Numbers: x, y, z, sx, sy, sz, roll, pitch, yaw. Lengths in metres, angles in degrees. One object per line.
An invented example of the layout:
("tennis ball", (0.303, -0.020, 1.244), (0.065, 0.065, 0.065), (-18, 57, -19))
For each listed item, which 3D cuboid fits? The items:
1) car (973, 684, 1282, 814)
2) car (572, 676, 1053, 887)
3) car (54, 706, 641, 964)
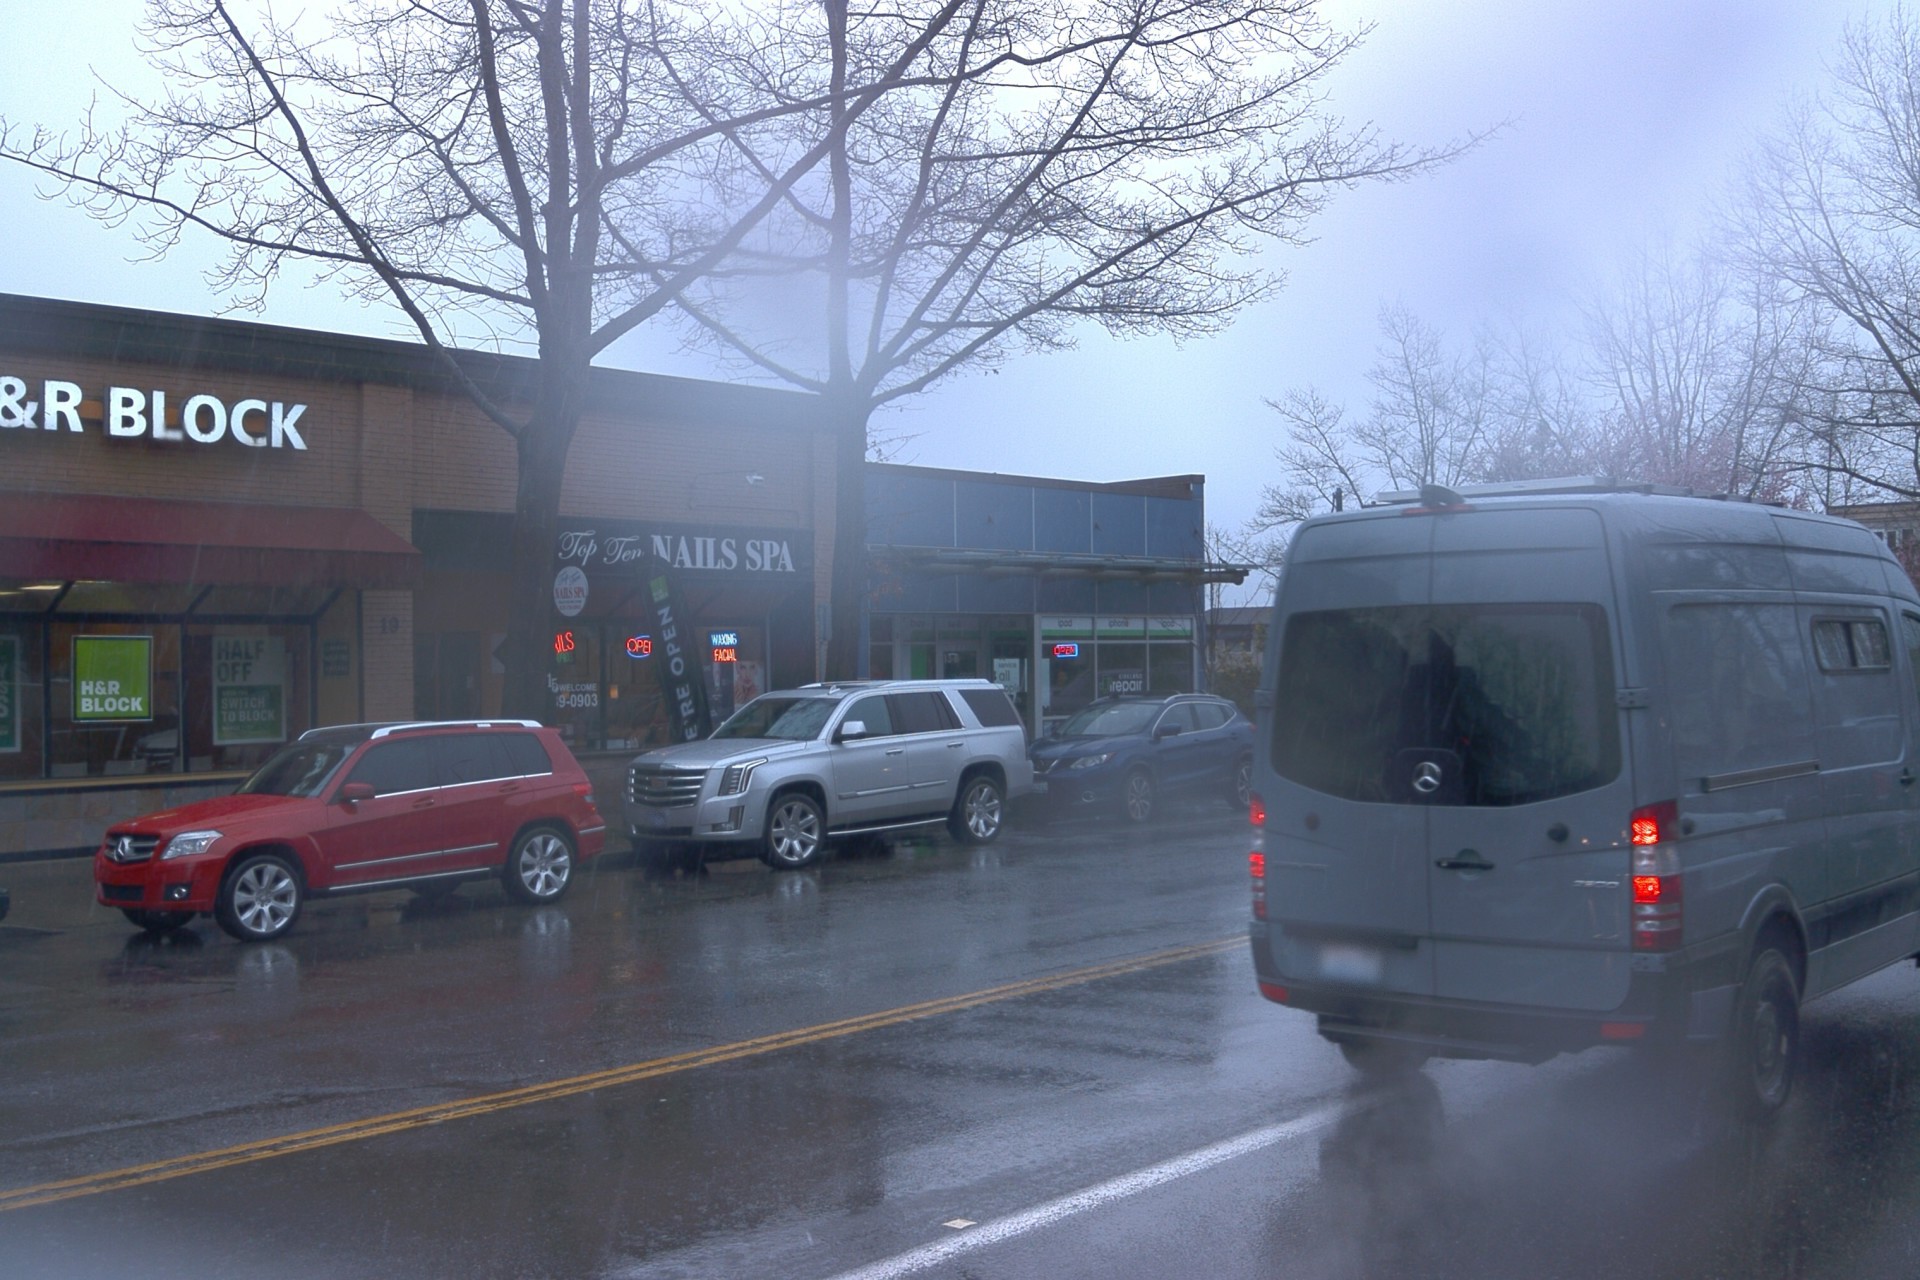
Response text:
("car", (2.289, 1.363, 27.206), (1.999, 1.400, 4.334), (1, 1, 38))
("car", (-1.487, 1.421, 22.817), (2.331, 1.890, 5.194), (1, 1, 40))
("car", (-5.220, 1.561, 18.120), (2.014, 1.750, 4.583), (1, 1, 40))
